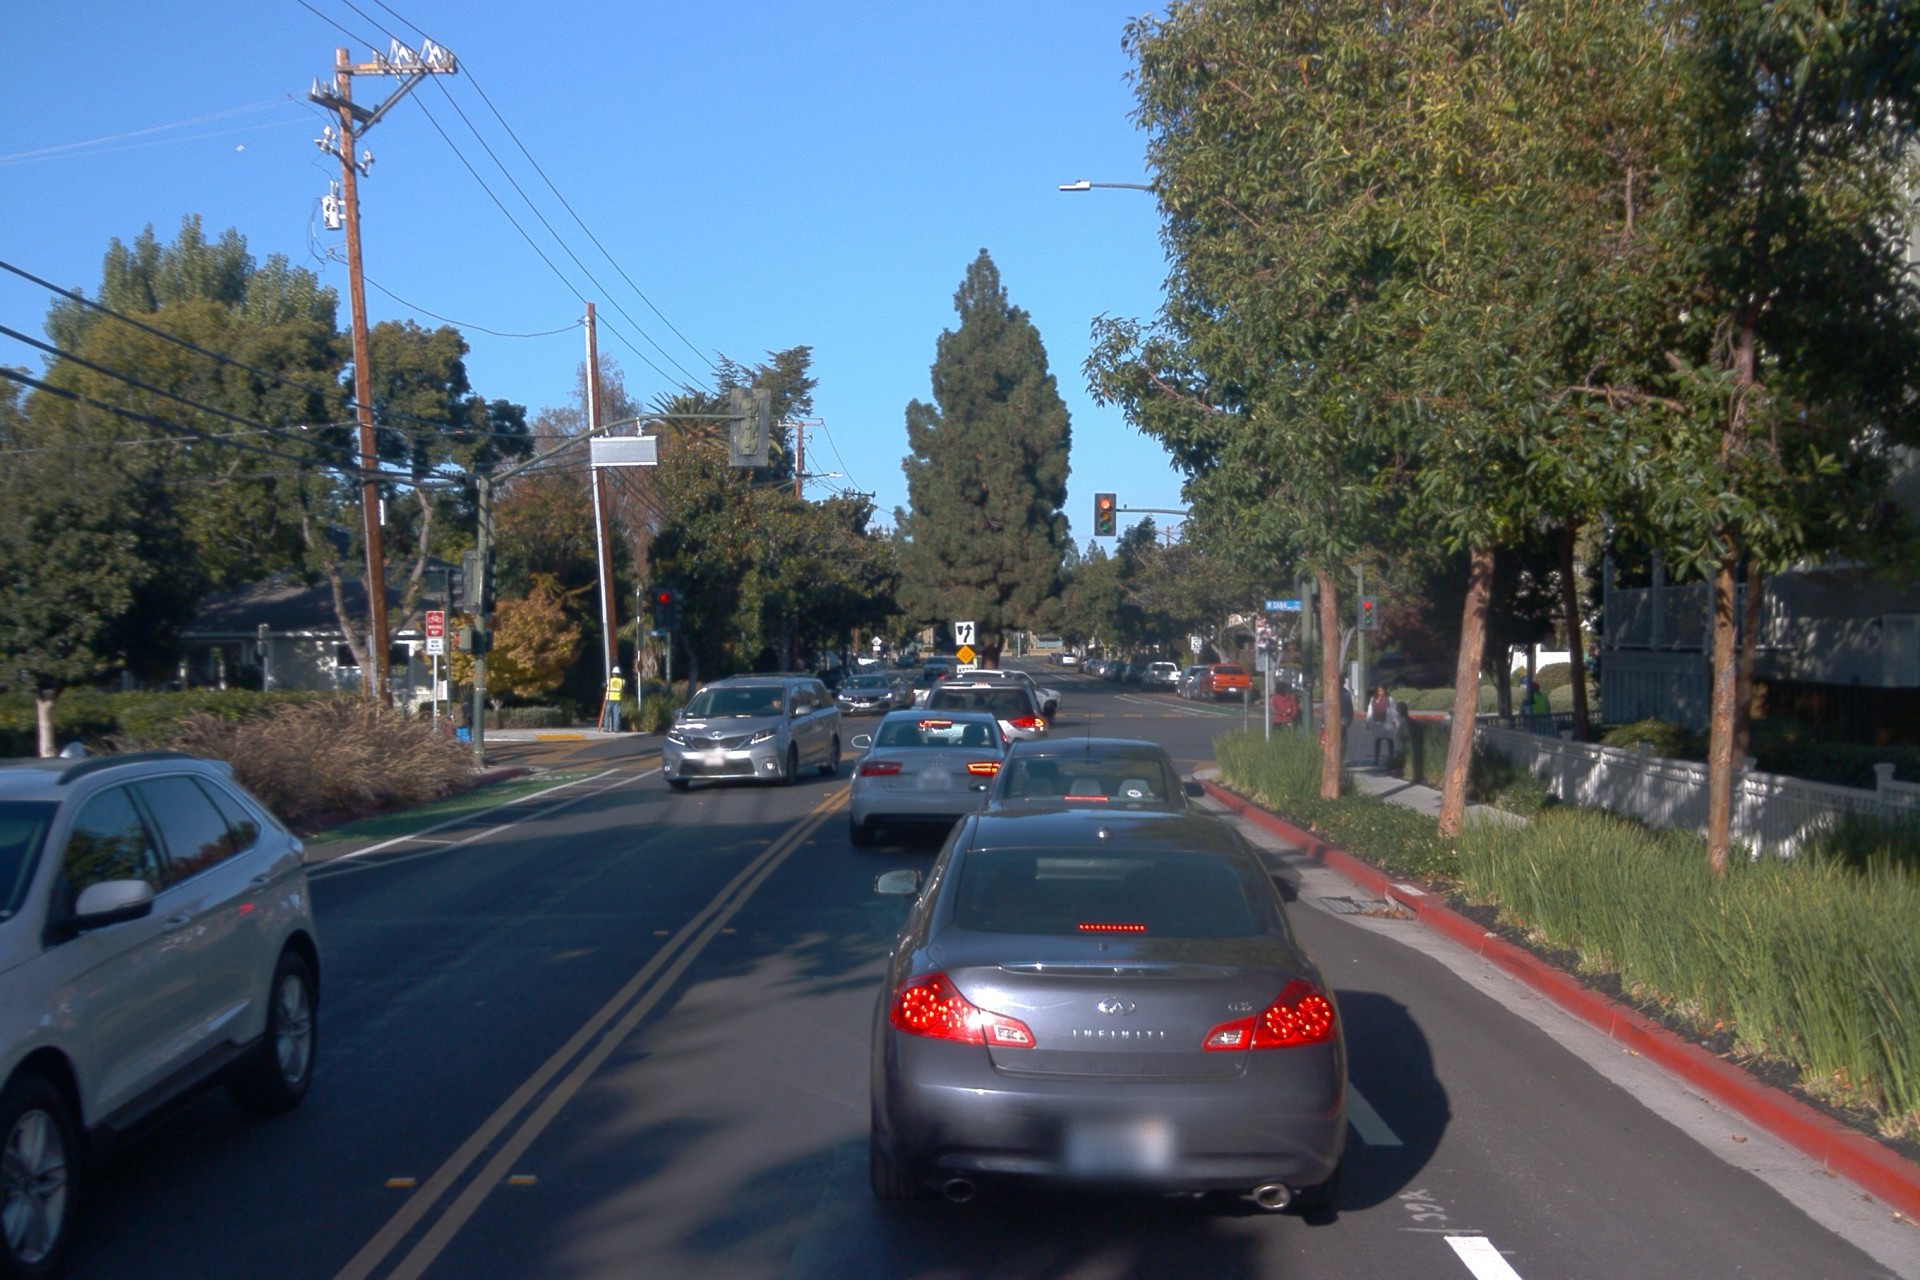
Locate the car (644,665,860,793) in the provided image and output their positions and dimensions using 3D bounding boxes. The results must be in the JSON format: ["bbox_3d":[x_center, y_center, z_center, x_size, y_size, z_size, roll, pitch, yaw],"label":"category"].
[{"bbox_3d":[-3.303,1.383,34.239,2.317,1.870,5.069,1,0,9],"label":"car"}]

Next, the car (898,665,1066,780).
[{"bbox_3d":[0.358,1.179,31.289,2.317,1.510,4.744,1,0,1],"label":"car"}]

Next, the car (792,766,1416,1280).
[{"bbox_3d":[0.567,1.429,9.064,2.033,1.460,4.435,1,0,3],"label":"car"}]

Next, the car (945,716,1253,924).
[{"bbox_3d":[0.993,1.273,15.845,2.028,1.210,4.035,1,0,2],"label":"car"}]

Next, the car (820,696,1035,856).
[{"bbox_3d":[-0.260,1.450,23.532,2.122,1.500,4.397,1,0,3],"label":"car"}]
